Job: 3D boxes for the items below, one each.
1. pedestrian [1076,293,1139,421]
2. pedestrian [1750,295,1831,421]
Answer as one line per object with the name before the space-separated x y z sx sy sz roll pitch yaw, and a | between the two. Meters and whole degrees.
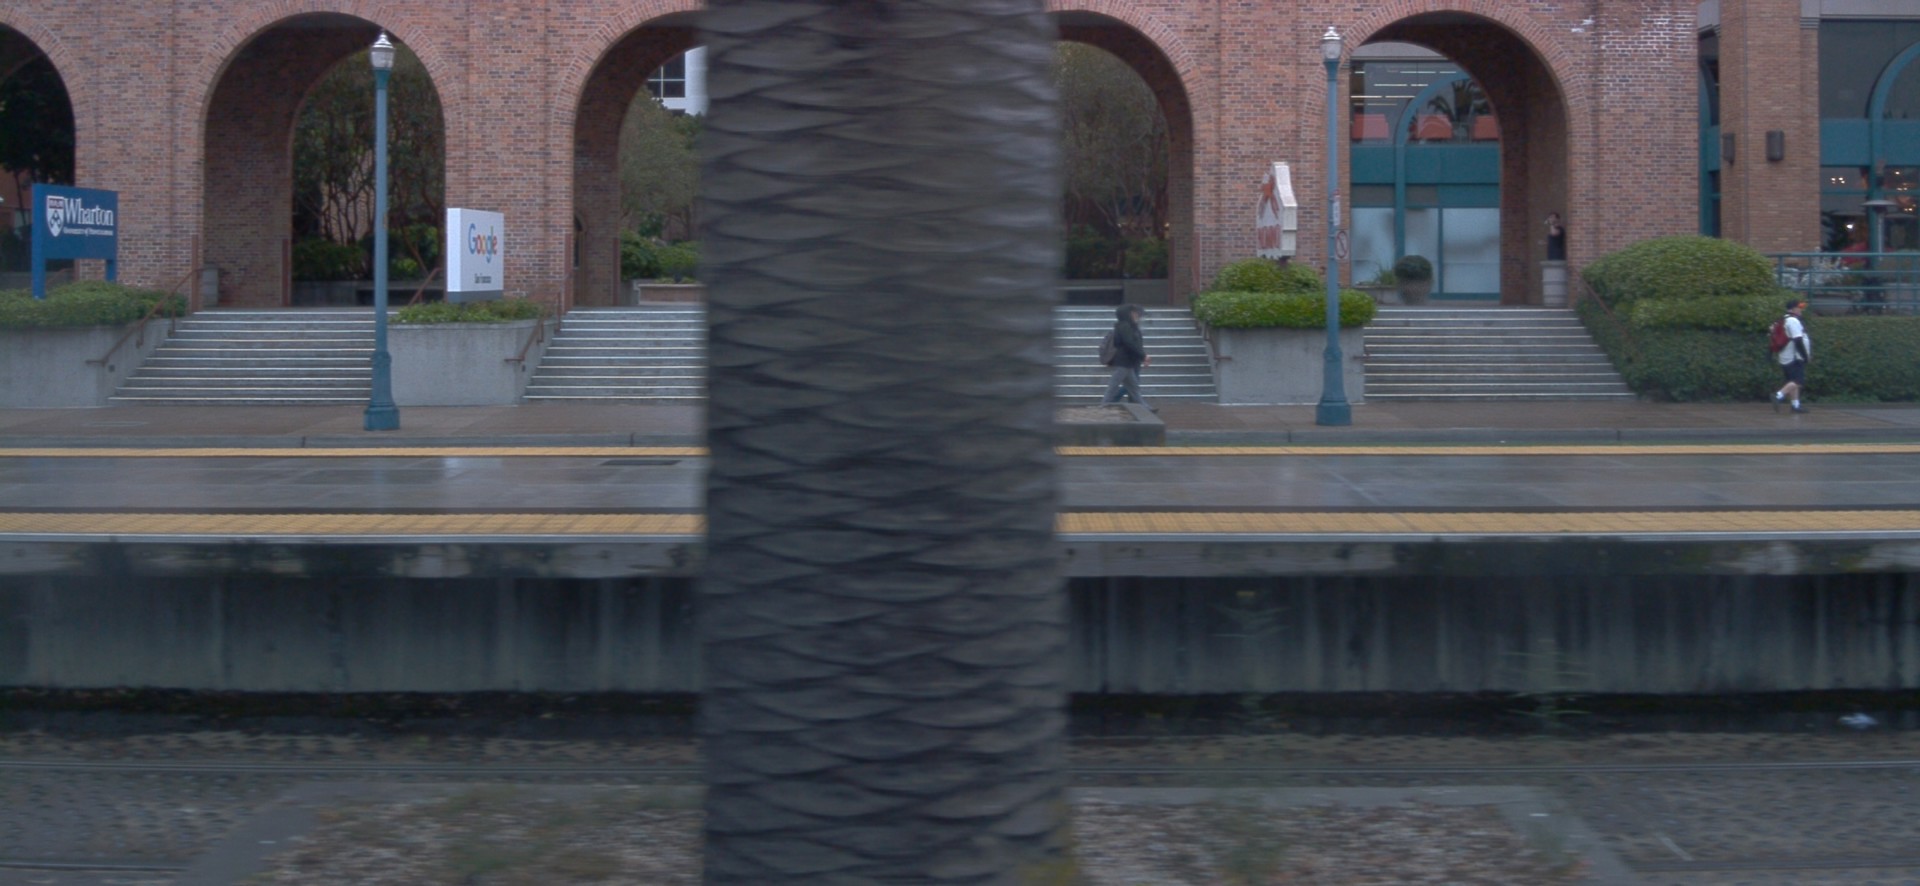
pedestrian | 2.144 -1.264 30.228 0.887 1.810 0.884 0 1 3
pedestrian | 12.266 -1.274 30.667 0.856 1.810 0.878 0 1 2
